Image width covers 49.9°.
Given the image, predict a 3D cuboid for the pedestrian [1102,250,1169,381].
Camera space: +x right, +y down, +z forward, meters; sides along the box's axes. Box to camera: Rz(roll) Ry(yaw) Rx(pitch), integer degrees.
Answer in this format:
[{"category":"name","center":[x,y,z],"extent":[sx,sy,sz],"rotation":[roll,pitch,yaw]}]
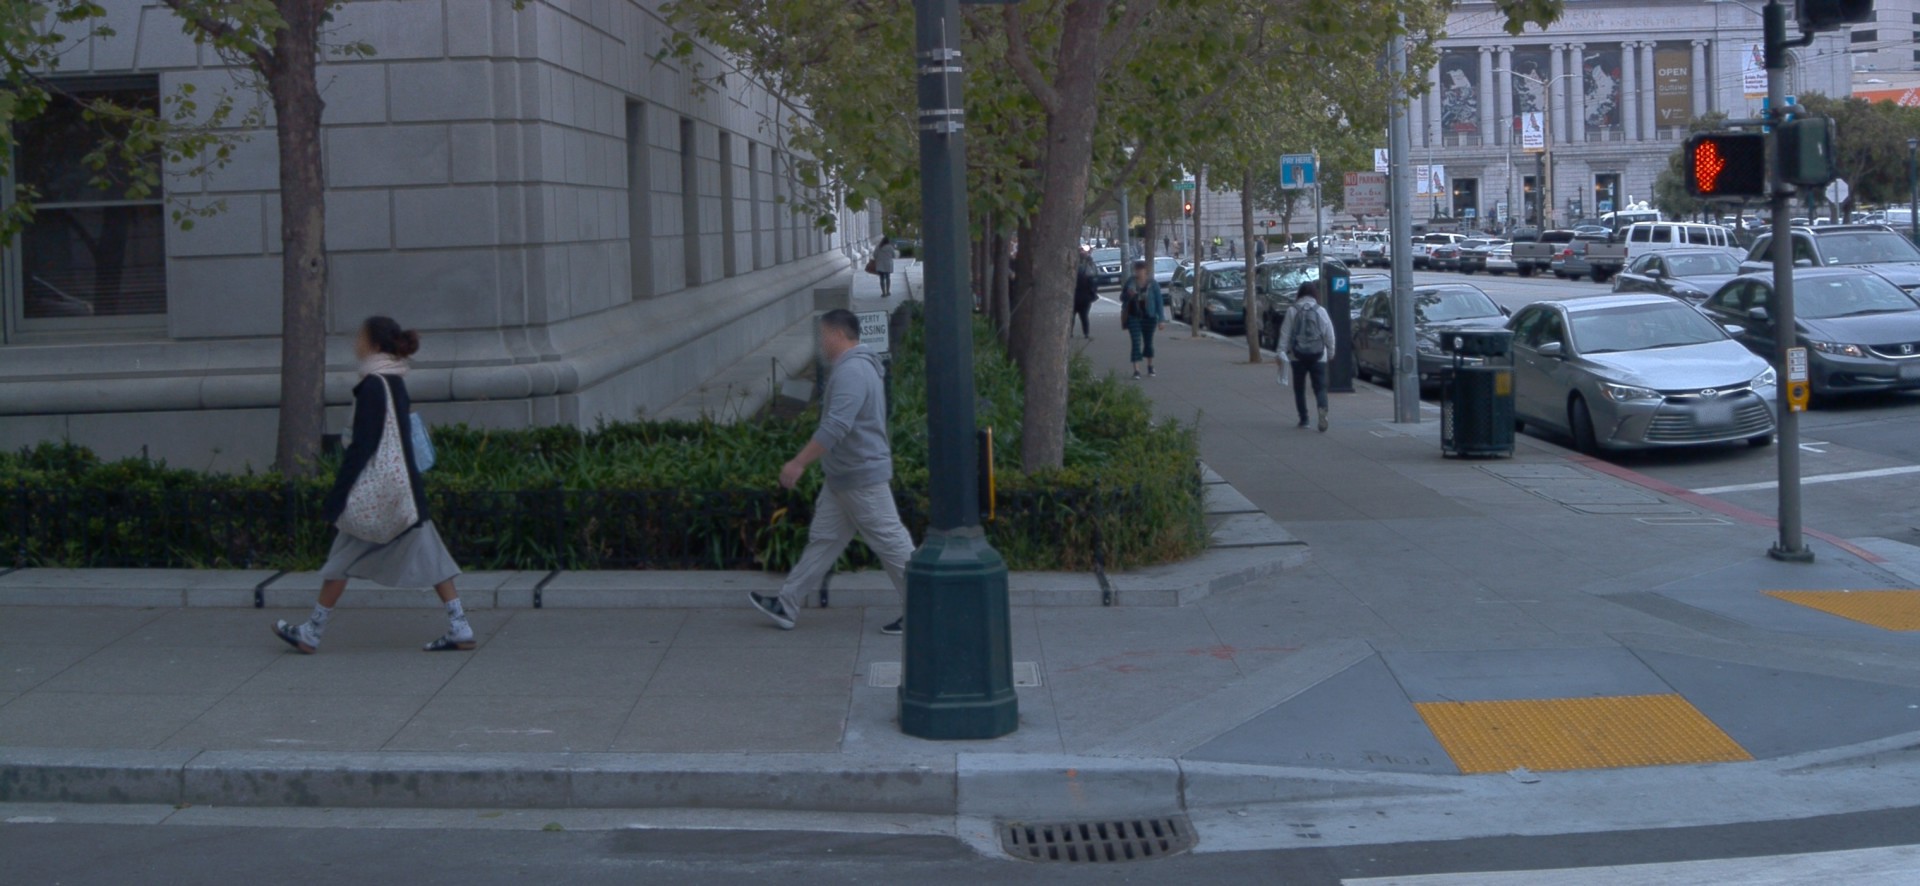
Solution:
[{"category":"pedestrian","center":[2.545,-1.855,29.777],"extent":[0.896,1.831,0.978],"rotation":[0,2,9]}]

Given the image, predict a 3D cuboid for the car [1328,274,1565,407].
[{"category":"car","center":[6.539,-1.486,28.271],"extent":[2.120,1.491,4.717],"rotation":[0,6,0]}]

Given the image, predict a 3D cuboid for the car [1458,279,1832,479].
[{"category":"car","center":[6.645,-0.755,20.654],"extent":[2.130,1.581,4.807],"rotation":[0,6,0]}]

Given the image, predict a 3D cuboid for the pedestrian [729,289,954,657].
[{"category":"pedestrian","center":[-0.622,0.111,10.484],"extent":[1.080,1.739,0.857],"rotation":[-1,2,-7]}]

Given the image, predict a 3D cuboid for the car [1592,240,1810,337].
[{"category":"car","center":[12.803,-2.757,35.970],"extent":[2.097,1.481,4.737],"rotation":[0,6,0]}]

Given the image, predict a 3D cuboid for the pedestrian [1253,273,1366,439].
[{"category":"pedestrian","center":[3.635,-0.927,21.531],"extent":[1.012,1.654,0.859],"rotation":[0,2,-2]}]

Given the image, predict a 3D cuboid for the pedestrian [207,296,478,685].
[{"category":"pedestrian","center":[-2.973,0.185,10.031],"extent":[1.039,1.751,0.936],"rotation":[0,2,-2]}]
